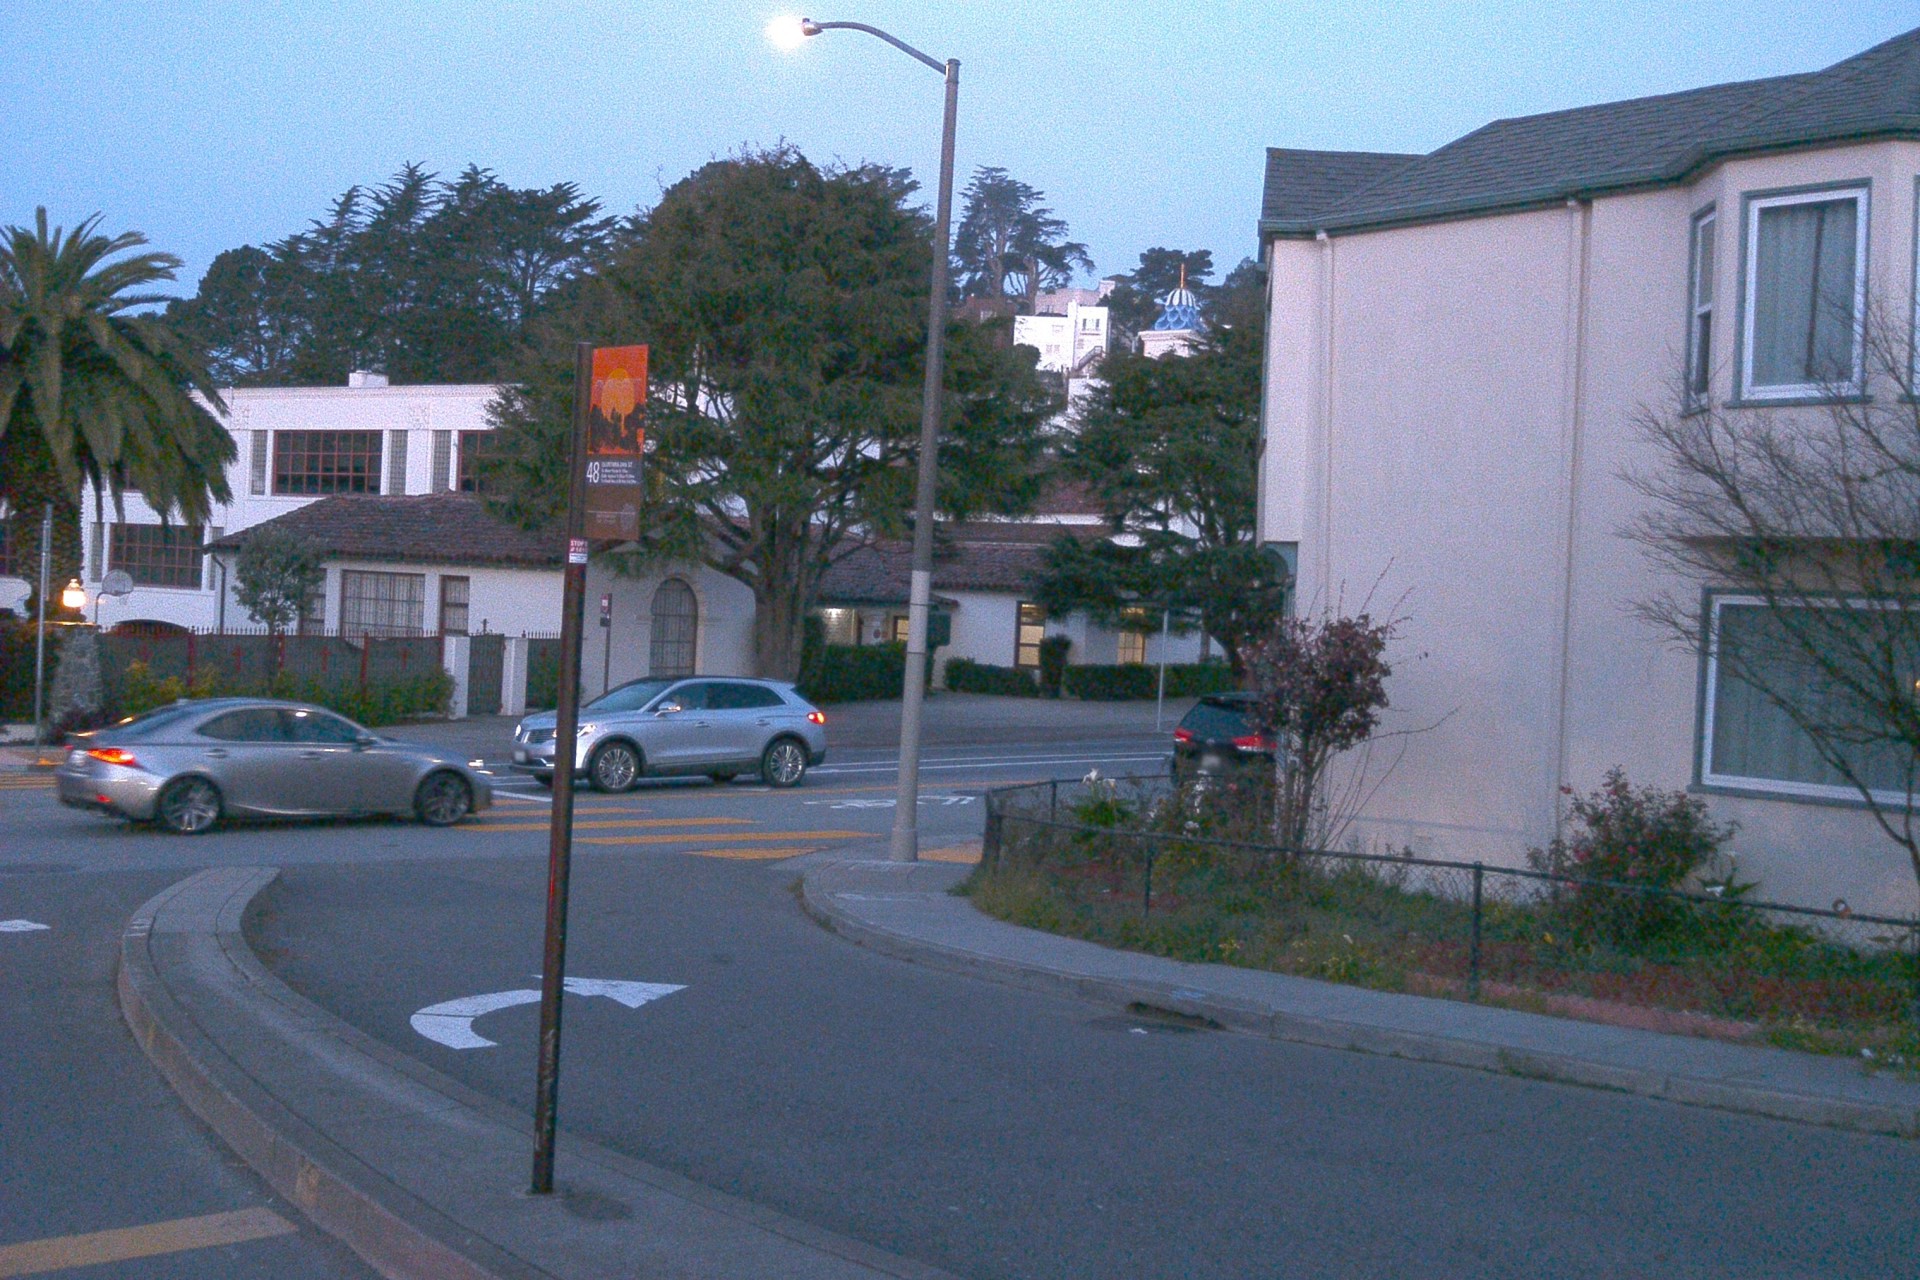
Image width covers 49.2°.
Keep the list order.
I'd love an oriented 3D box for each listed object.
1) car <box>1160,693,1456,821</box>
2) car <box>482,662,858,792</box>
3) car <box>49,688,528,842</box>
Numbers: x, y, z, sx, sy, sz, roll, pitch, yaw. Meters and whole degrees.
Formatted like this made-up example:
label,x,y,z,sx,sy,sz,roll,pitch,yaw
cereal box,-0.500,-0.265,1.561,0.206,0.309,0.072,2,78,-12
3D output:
label,x,y,z,sx,sy,sz,roll,pitch,yaw
car,5.027,1.629,30.201,3.819,1.660,2.058,1,0,-34
car,-4.179,1.204,30.665,5.027,1.730,2.150,1,0,-39
car,-7.410,1.312,23.334,4.640,1.490,2.041,1,0,-38
